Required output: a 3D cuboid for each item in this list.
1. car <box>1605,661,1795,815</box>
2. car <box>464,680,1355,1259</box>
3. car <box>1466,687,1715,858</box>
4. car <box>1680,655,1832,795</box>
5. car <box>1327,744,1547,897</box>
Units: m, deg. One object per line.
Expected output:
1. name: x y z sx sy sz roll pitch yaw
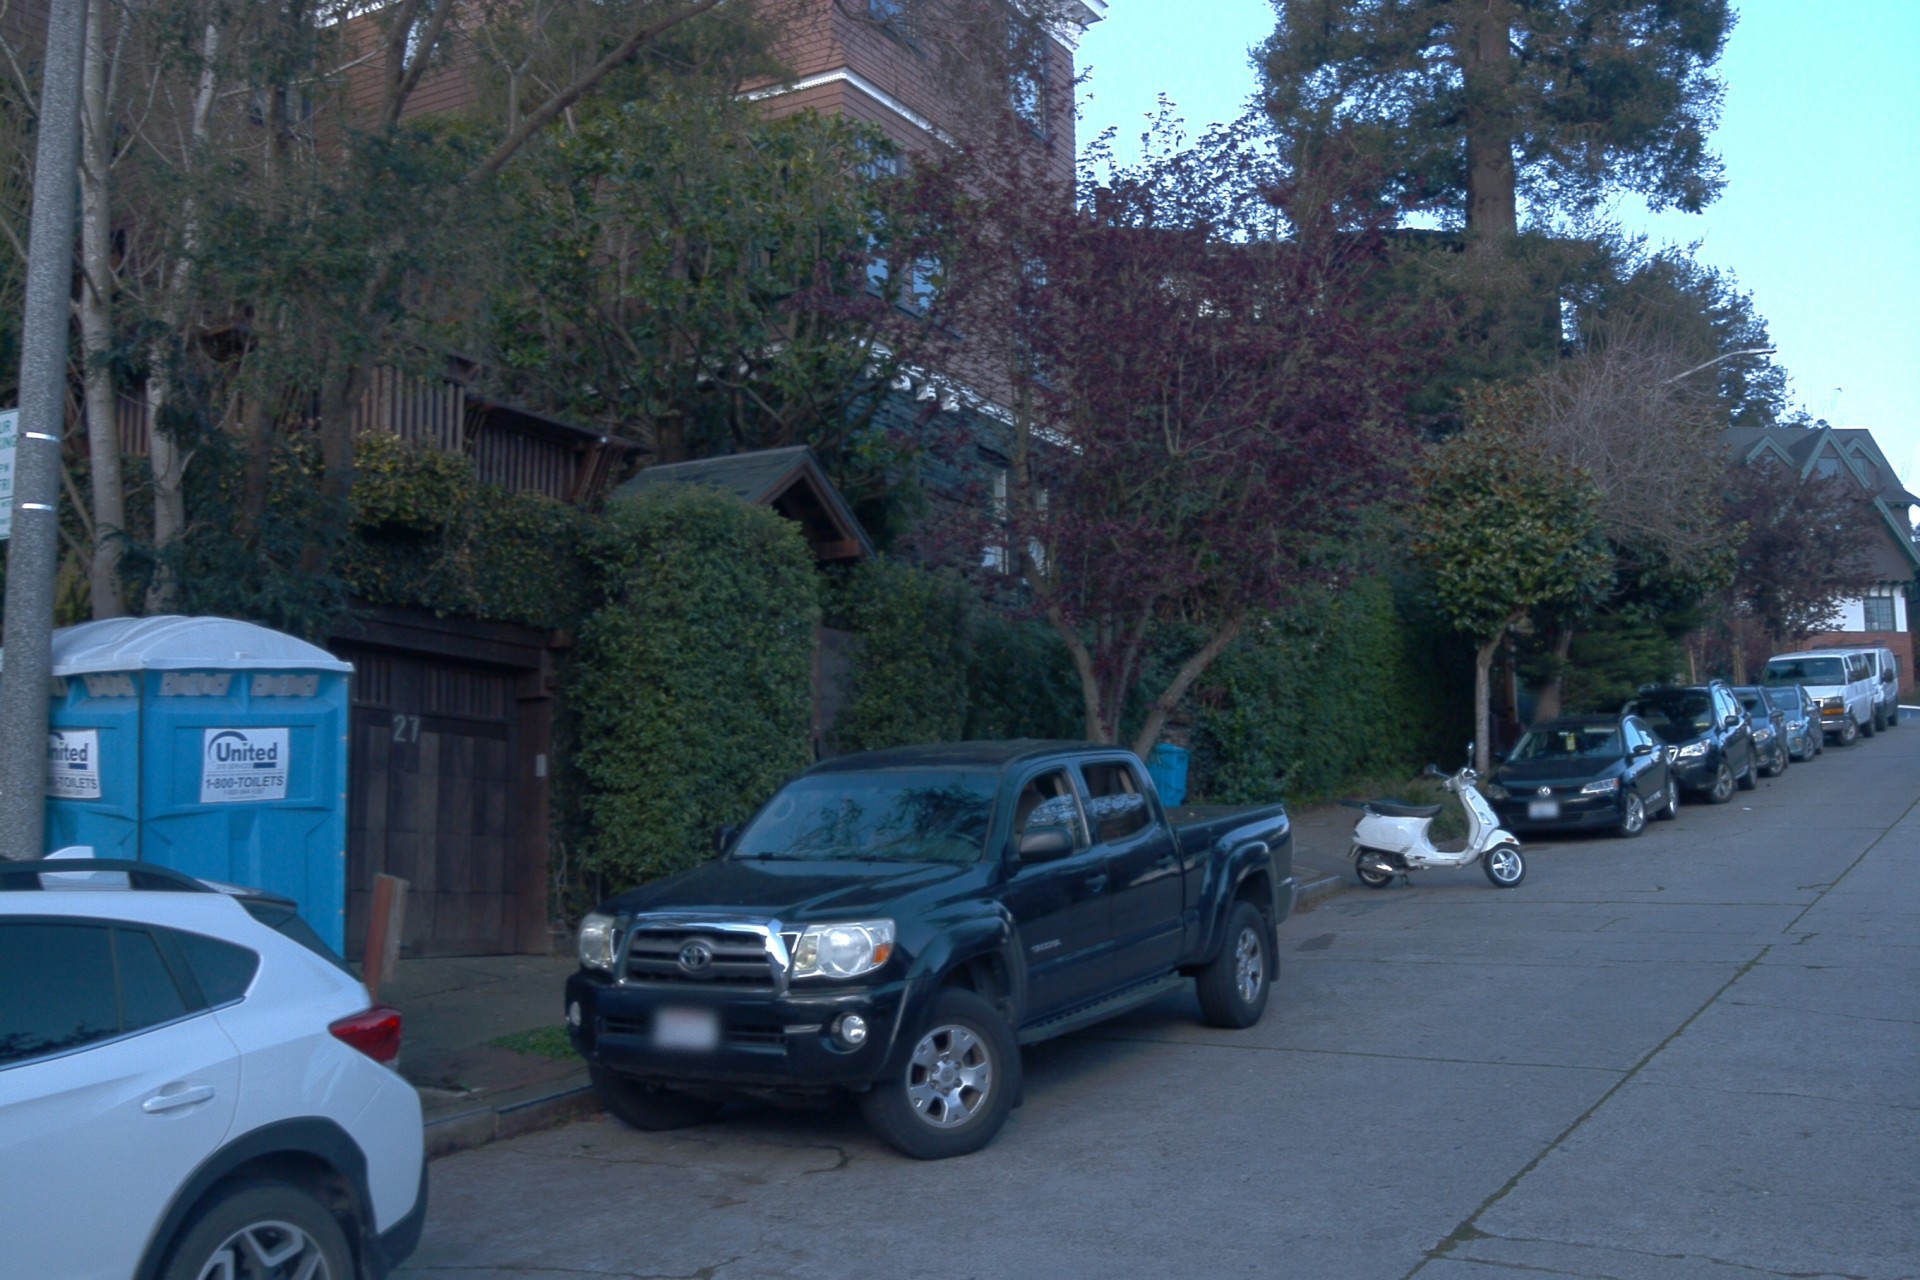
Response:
1. car: 11.014 1.356 30.453 1.886 2.043 4.711 0 0 29
2. car: 0.169 1.342 11.101 2.245 2.139 5.793 0 0 28
3. car: 7.999 1.550 25.807 2.058 1.817 4.796 0 0 29
4. car: 13.854 1.389 35.709 1.962 2.243 4.437 0 0 28
5. car: 4.571 1.694 19.720 1.914 1.324 0.962 0 0 22
